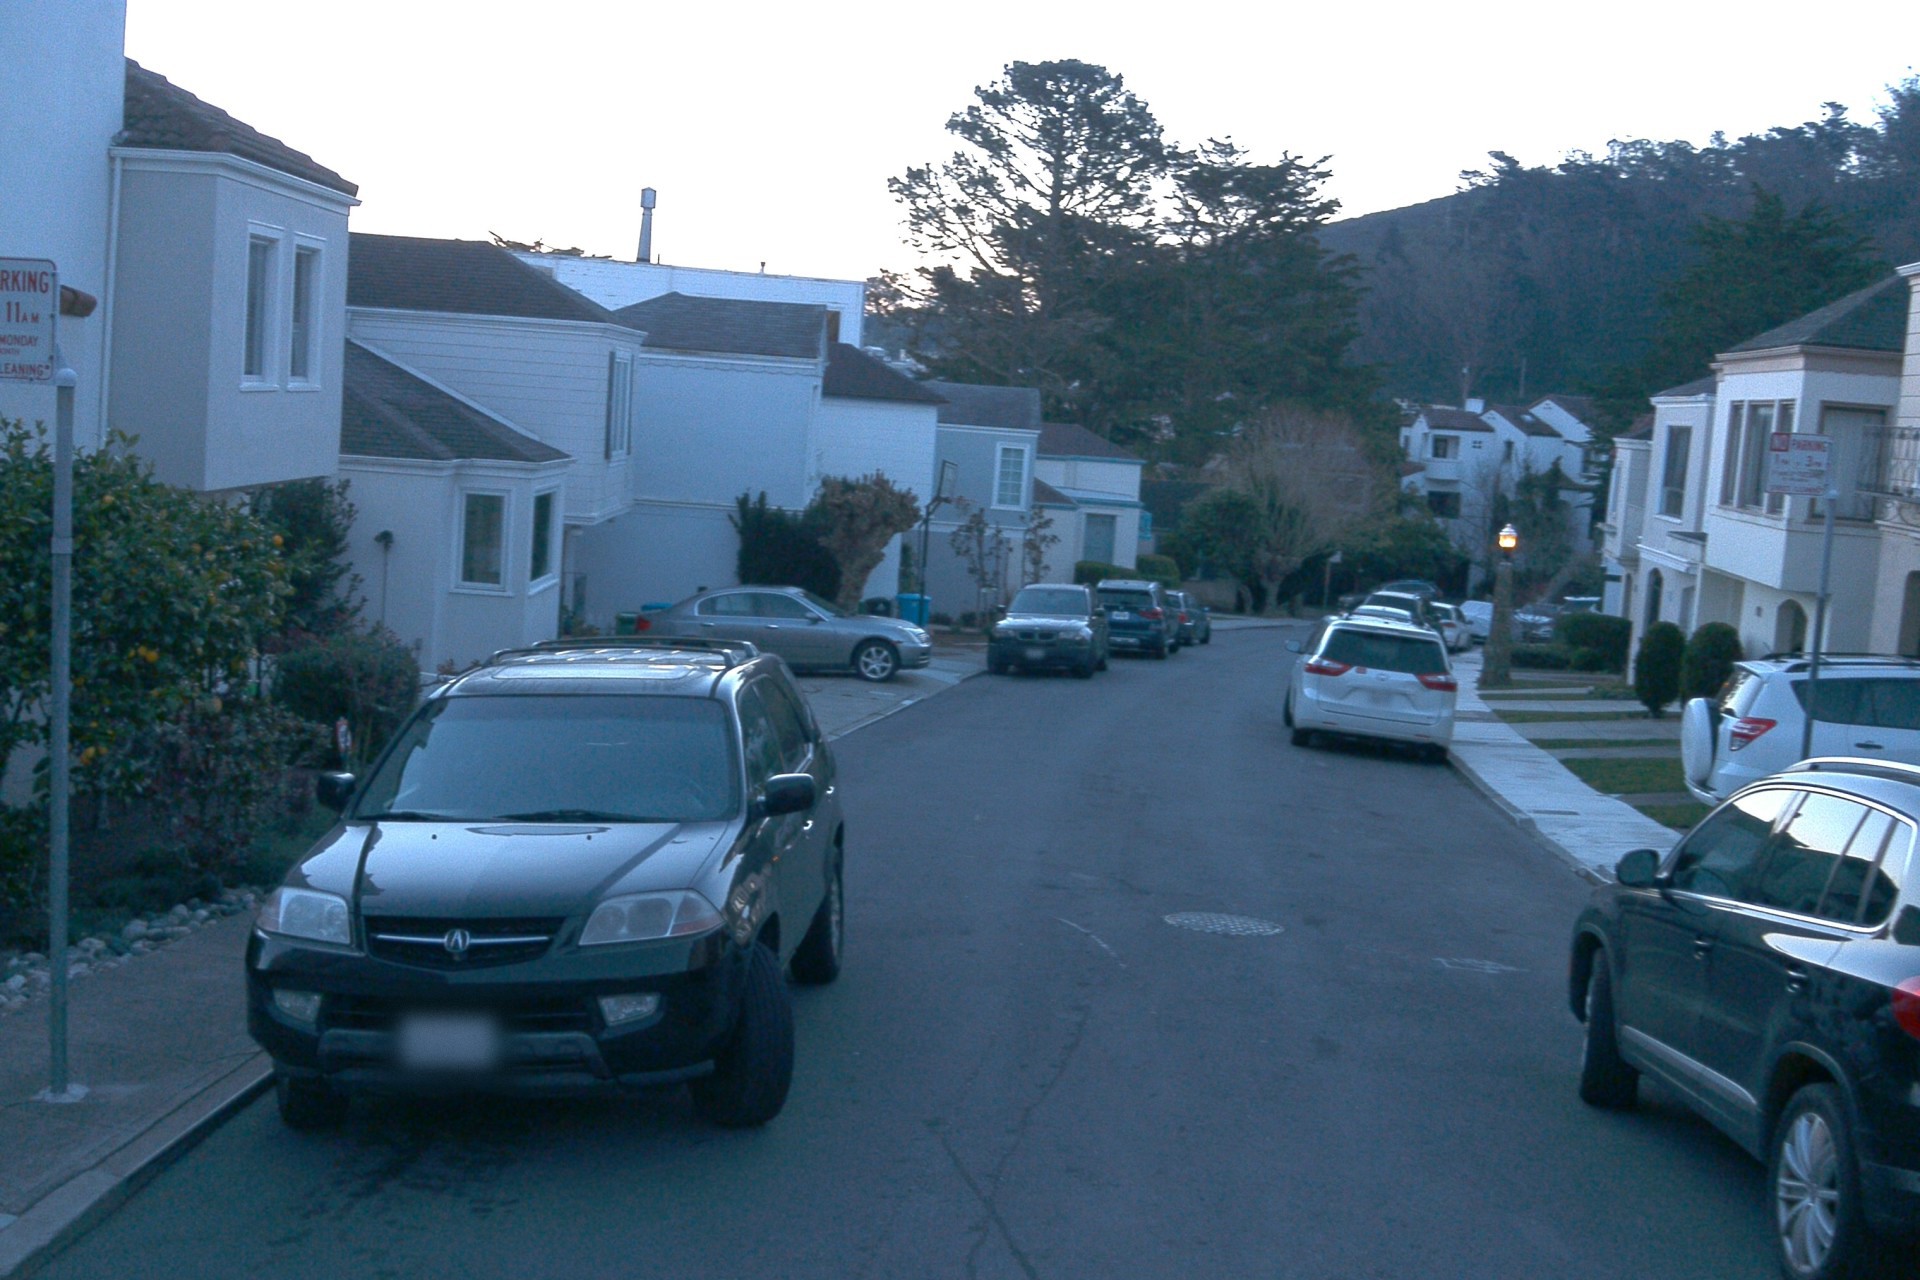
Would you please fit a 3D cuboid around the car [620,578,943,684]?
[{"bbox_3d":[-2.737,-0.137,32.518,4.763,1.580,1.991,0,0,4],"label":"car"}]

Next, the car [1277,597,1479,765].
[{"bbox_3d":[5.504,0.498,27.953,2.371,2.050,5.085,0,0,8],"label":"car"}]

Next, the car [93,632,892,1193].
[{"bbox_3d":[-1.661,0.911,9.411,2.323,1.880,4.870,0,0,2],"label":"car"}]

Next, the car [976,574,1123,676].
[{"bbox_3d":[1.719,-0.264,38.146,2.090,1.740,4.538,0,0,10],"label":"car"}]
